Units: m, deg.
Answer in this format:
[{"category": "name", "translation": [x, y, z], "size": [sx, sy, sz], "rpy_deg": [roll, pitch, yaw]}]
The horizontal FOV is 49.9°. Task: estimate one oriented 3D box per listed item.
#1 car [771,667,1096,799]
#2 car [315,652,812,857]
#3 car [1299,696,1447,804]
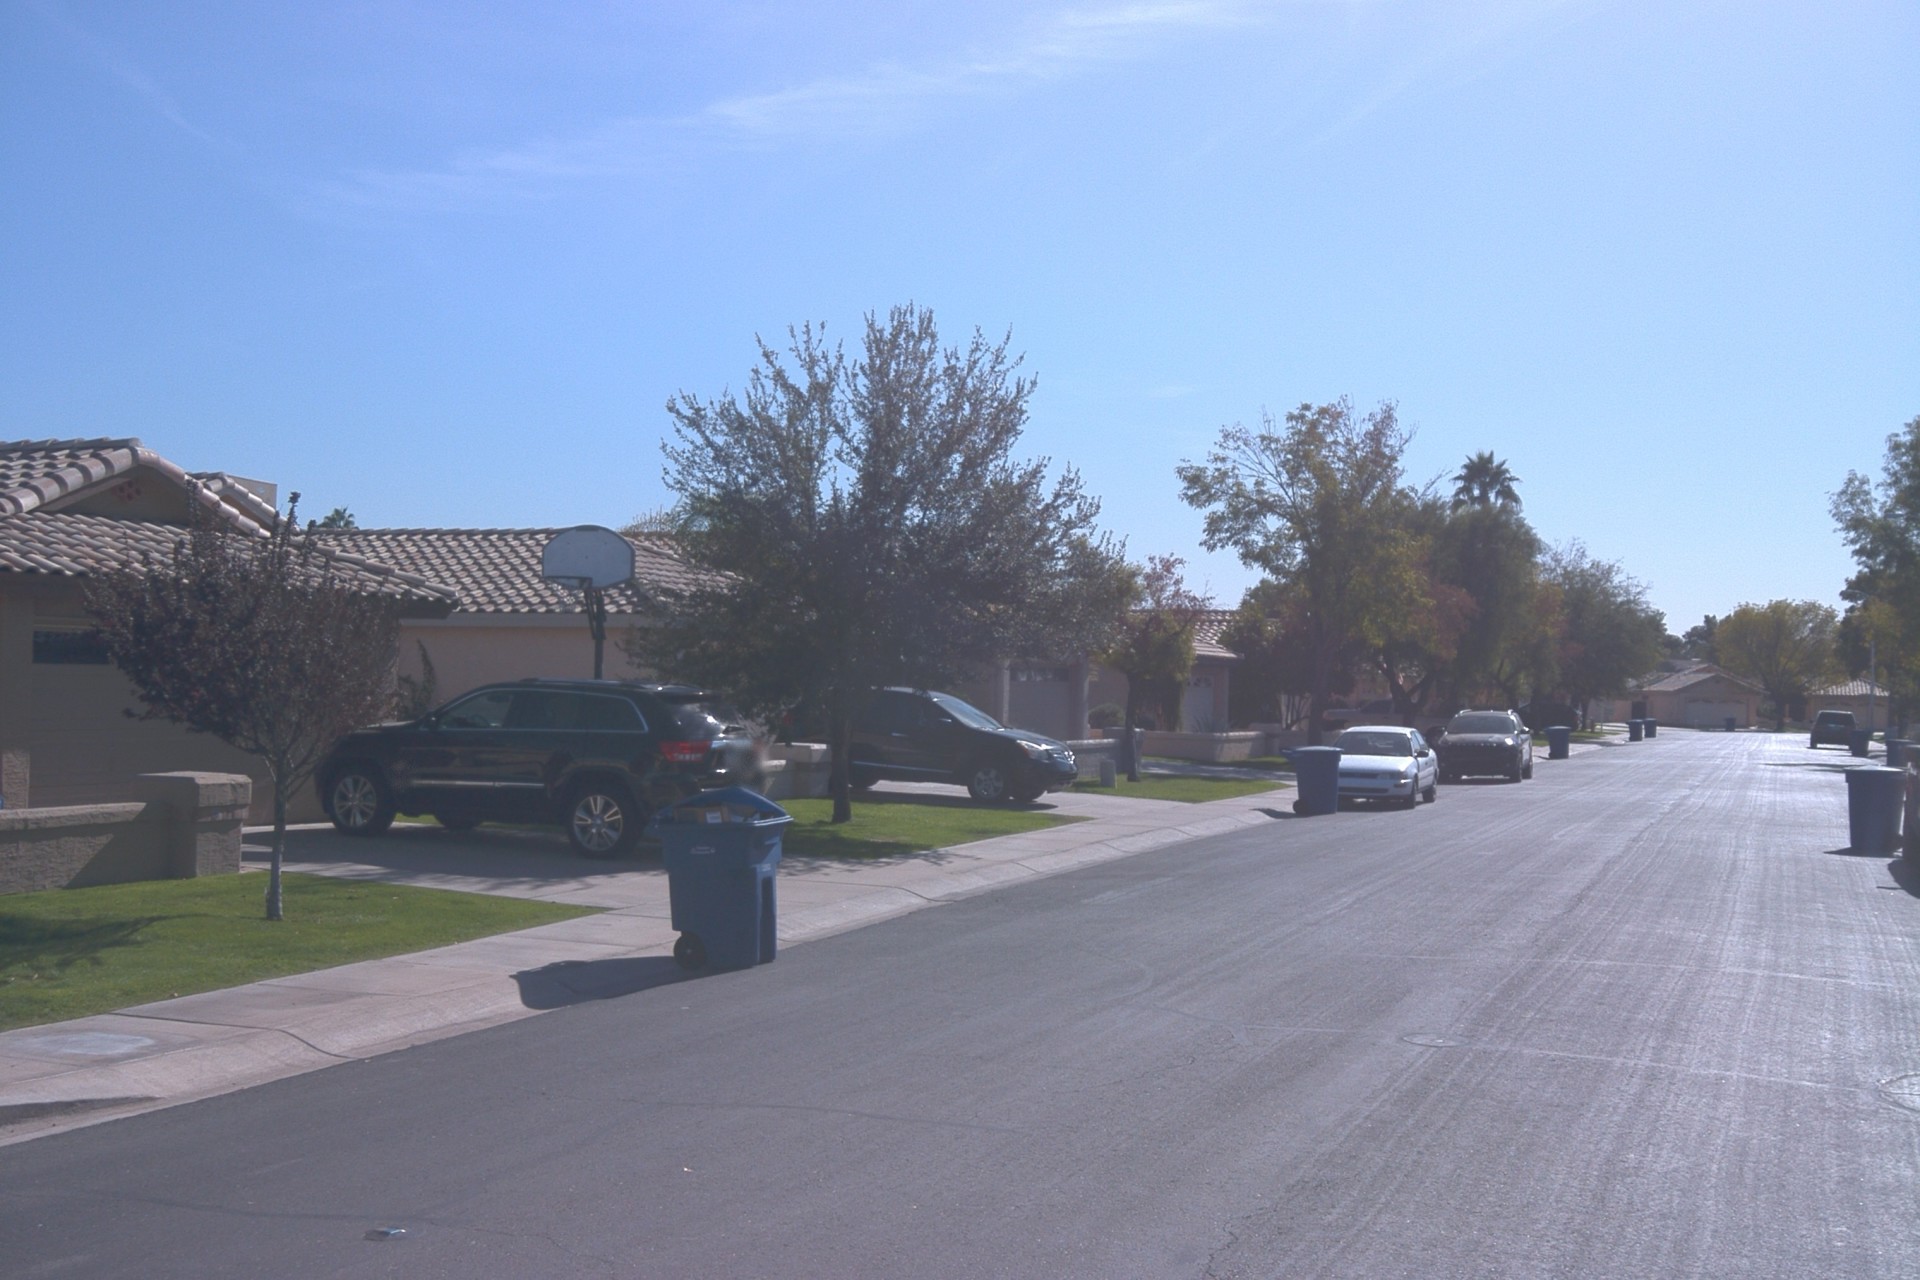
[{"category": "car", "translation": [-0.397, 1.362, 31.463], "size": [4.514, 1.880, 2.062], "rpy_deg": [0, 0, 22]}, {"category": "car", "translation": [-4.180, 1.114, 21.825], "size": [4.737, 1.980, 2.203], "rpy_deg": [0, 0, 22]}, {"category": "car", "translation": [7.350, 1.883, 36.399], "size": [1.889, 1.690, 4.359], "rpy_deg": [0, 0, 21]}]
